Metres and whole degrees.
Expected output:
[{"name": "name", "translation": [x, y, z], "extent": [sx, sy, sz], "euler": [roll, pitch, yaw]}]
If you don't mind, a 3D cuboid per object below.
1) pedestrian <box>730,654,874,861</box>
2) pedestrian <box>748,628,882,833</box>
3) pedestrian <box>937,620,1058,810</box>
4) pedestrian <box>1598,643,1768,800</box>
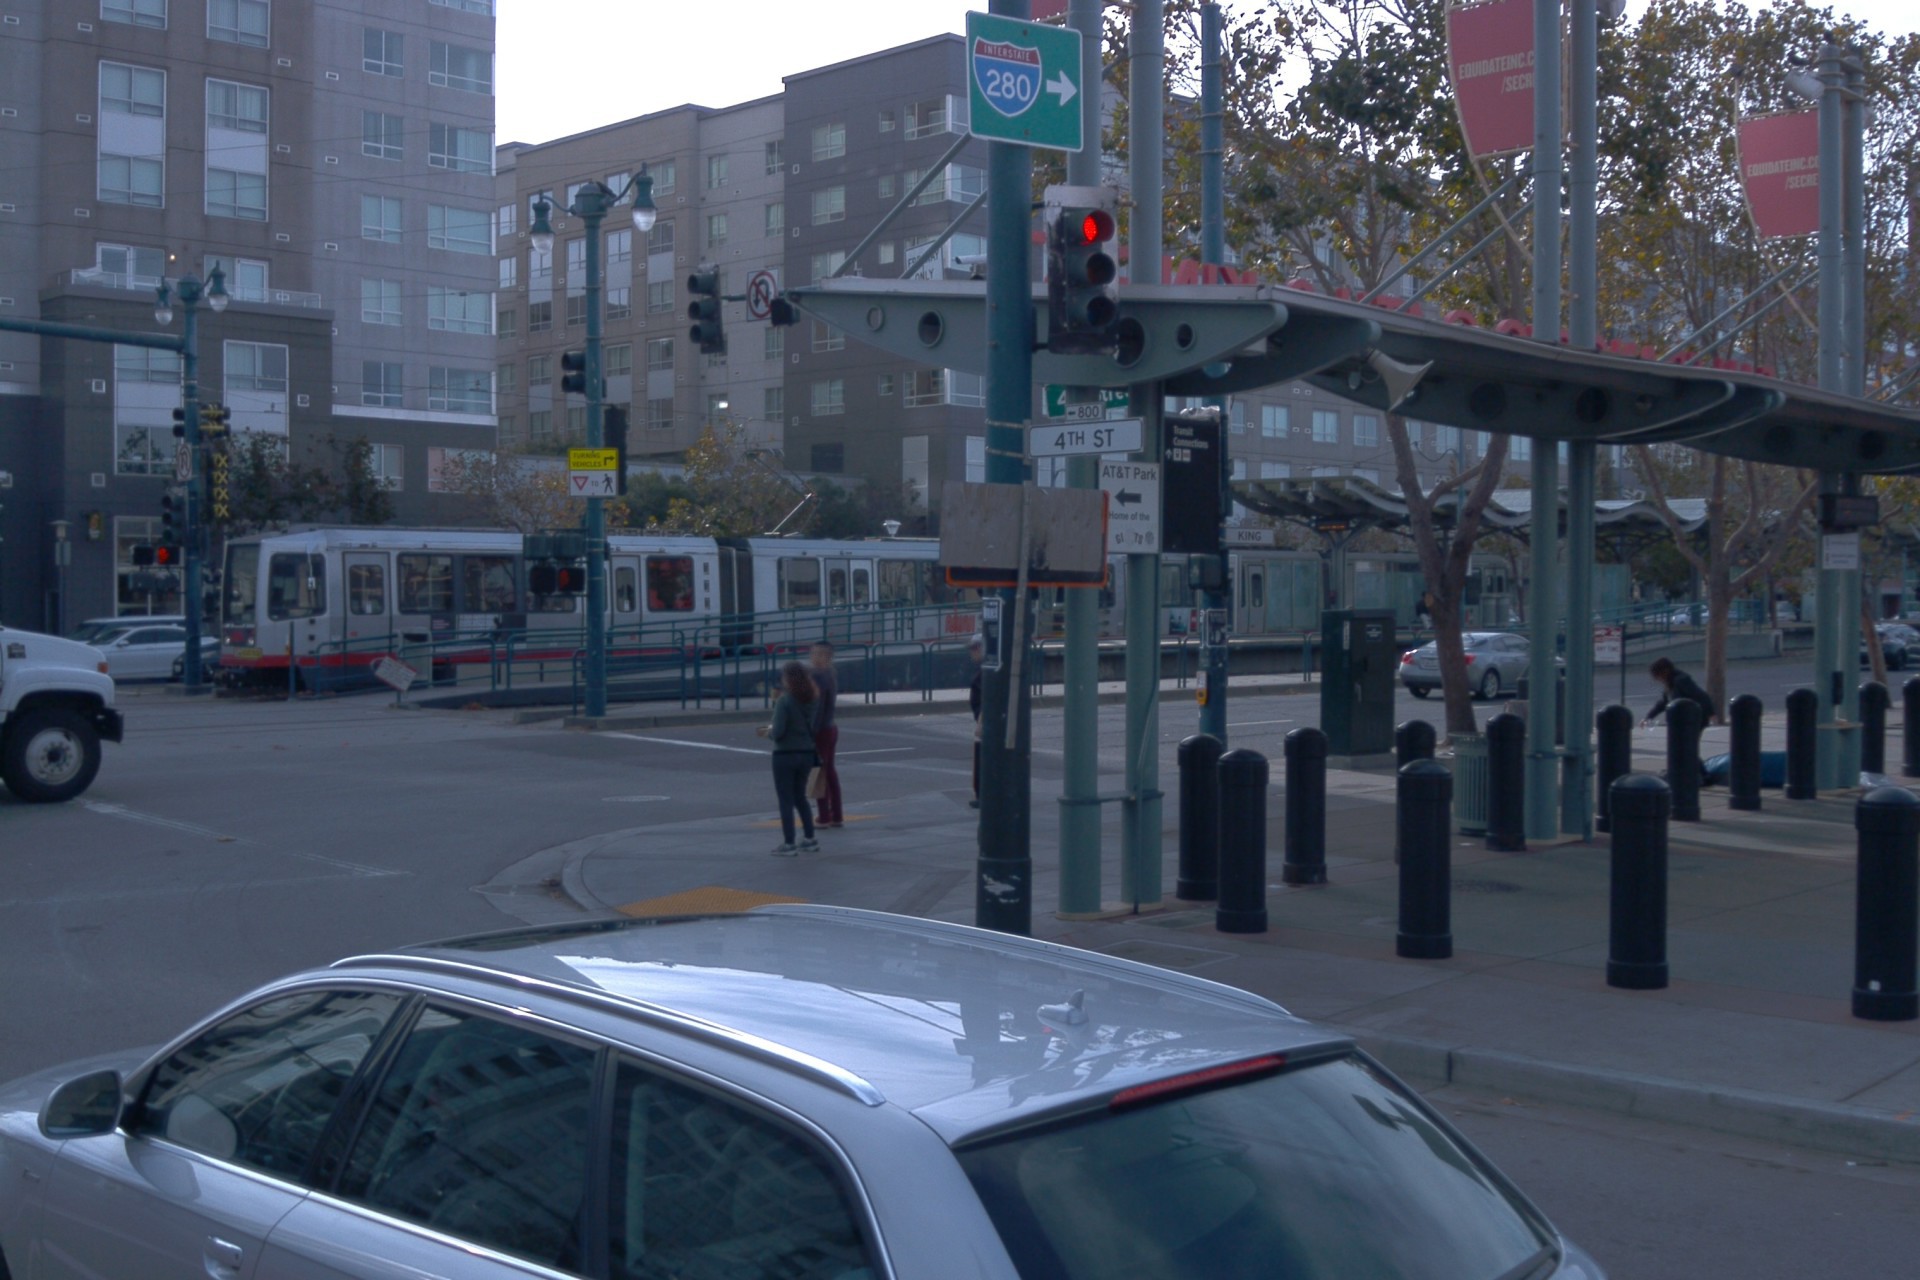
[{"name": "pedestrian", "translation": [-1.315, 0.946, 17.162], "extent": [0.678, 1.642, 1.016], "euler": [1, 0, -44]}, {"name": "pedestrian", "translation": [-1.322, 0.807, 19.050], "extent": [0.980, 1.819, 0.928], "euler": [1, 0, 12]}, {"name": "pedestrian", "translation": [0.383, 0.735, 20.824], "extent": [0.867, 1.858, 0.865], "euler": [1, 0, 31]}, {"name": "pedestrian", "translation": [7.682, 0.846, 22.019], "extent": [1.218, 1.605, 1.168], "euler": [1, 0, -31]}]
